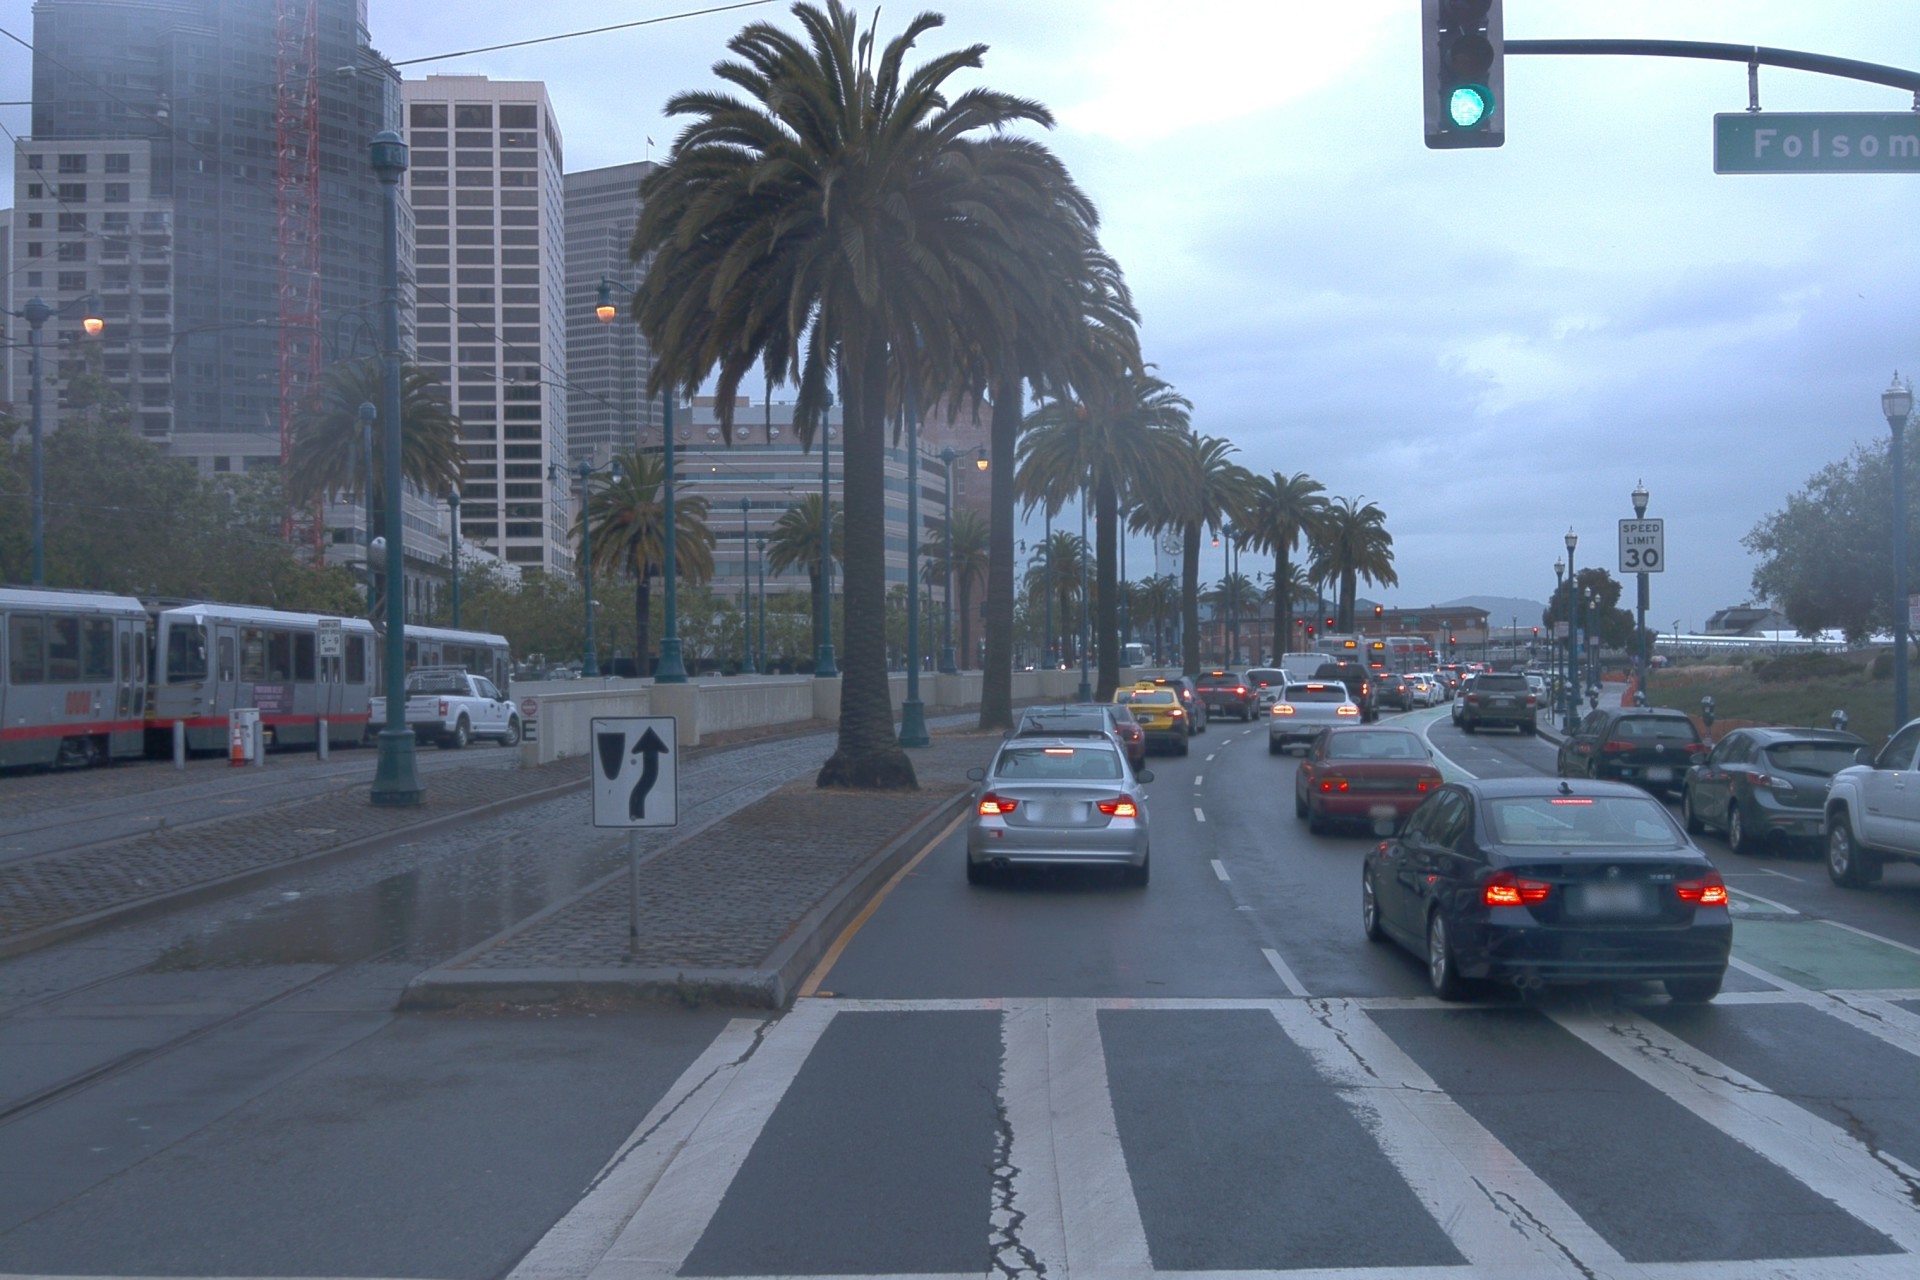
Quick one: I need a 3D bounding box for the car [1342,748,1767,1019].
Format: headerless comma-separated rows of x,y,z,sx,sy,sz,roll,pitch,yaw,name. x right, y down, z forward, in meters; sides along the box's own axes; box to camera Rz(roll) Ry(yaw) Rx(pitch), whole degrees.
3.951,1.571,14.567,1.869,1.450,4.344,0,-1,2,car

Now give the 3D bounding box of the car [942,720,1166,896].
1.034,1.637,21.493,2.067,1.510,4.626,0,-1,4,car

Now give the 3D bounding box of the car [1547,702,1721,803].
10.773,1.765,33.415,1.884,1.470,4.052,0,-1,6,car

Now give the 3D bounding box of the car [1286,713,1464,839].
5.387,1.730,27.329,1.923,1.450,3.945,0,-1,6,car

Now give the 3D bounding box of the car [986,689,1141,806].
1.642,1.553,31.168,2.066,1.580,4.626,0,-1,6,car
